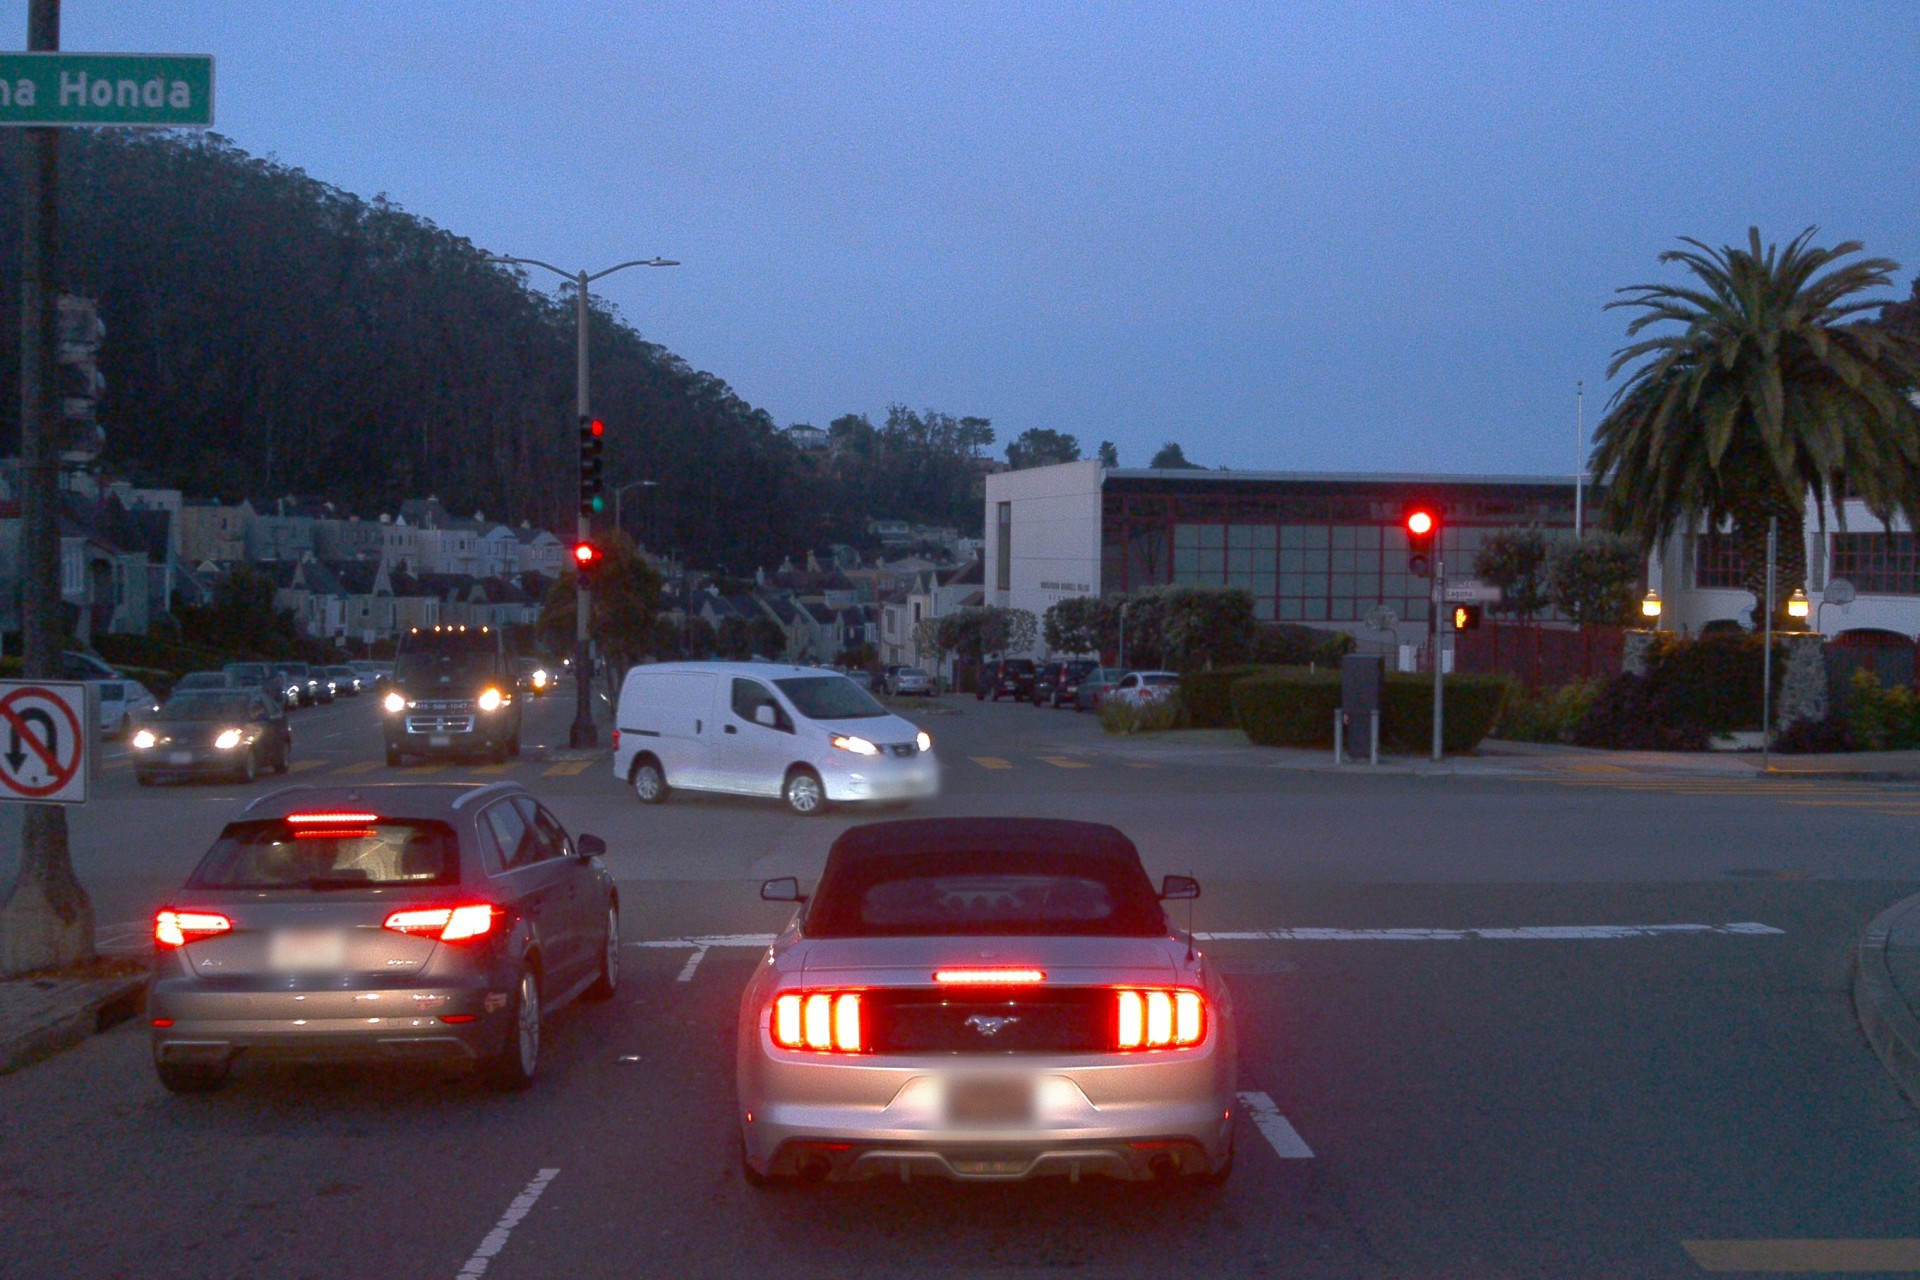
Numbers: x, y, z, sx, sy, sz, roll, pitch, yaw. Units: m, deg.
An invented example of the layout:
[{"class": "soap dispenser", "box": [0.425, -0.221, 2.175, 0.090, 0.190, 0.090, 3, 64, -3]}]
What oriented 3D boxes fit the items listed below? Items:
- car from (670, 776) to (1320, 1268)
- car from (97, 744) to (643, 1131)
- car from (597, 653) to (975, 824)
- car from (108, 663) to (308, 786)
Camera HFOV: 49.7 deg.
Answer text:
[{"class": "car", "box": [0.099, 1.422, 9.110, 2.174, 1.380, 4.355, 0, 0, 0]}, {"class": "car", "box": [-2.886, 1.403, 11.058, 1.782, 1.510, 3.987, 0, 0, 0]}, {"class": "car", "box": [-2.313, 1.166, 26.646, 4.850, 2.000, 2.098, 0, 0, 42]}, {"class": "car", "box": [-11.930, 1.284, 33.172, 2.001, 1.810, 4.438, 0, 0, -6]}]
